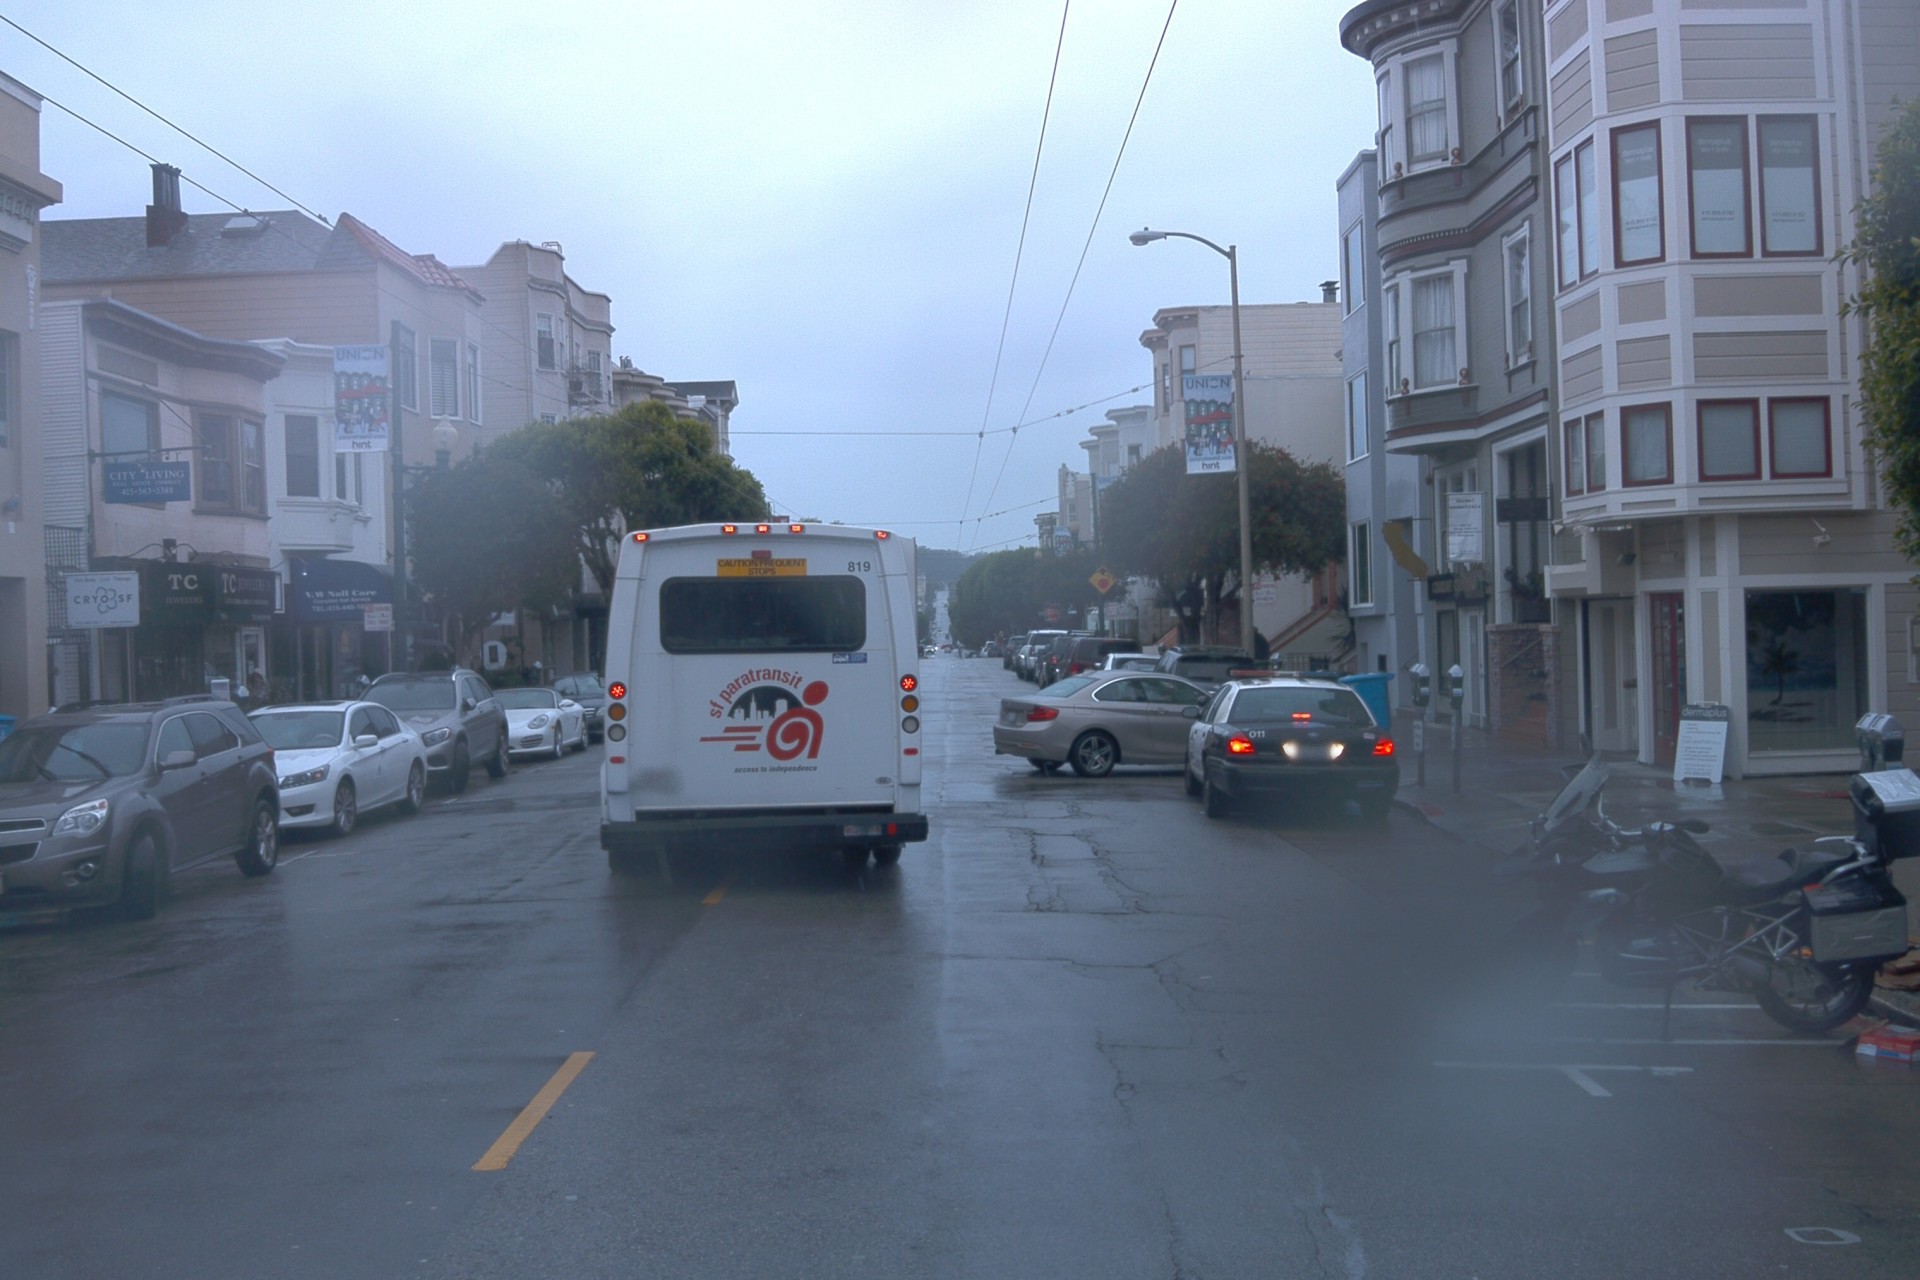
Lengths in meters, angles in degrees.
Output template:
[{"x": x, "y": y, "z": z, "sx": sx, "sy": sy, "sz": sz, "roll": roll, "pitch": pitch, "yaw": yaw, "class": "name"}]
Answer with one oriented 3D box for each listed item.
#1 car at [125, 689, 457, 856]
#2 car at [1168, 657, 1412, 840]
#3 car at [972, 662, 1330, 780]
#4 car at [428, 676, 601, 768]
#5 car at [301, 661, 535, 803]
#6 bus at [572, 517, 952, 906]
[{"x": -7.606, "y": 1.439, "z": 24.046, "sx": 2.131, "sy": 1.540, "sz": 5.132, "roll": 1, "pitch": 1, "yaw": 1, "class": "car"}, {"x": 3.553, "y": 1.098, "z": 23.175, "sx": 2.108, "sy": 1.690, "sz": 5.363, "roll": 1, "pitch": 1, "yaw": 3, "class": "car"}, {"x": 2.593, "y": 1.061, "z": 28.024, "sx": 4.450, "sy": 1.470, "sz": 1.880, "roll": 0, "pitch": 1, "yaw": -21, "class": "car"}, {"x": -7.709, "y": 1.383, "z": 36.140, "sx": 2.114, "sy": 1.370, "sz": 4.598, "roll": 1, "pitch": 1, "yaw": -1, "class": "car"}, {"x": -7.669, "y": 1.245, "z": 29.696, "sx": 2.149, "sy": 1.760, "sz": 4.917, "roll": 1, "pitch": 1, "yaw": -1, "class": "car"}, {"x": -1.938, "y": 0.496, "z": 18.595, "sx": 2.785, "sy": 2.850, "sz": 6.711, "roll": 0, "pitch": 1, "yaw": -8, "class": "bus"}]
